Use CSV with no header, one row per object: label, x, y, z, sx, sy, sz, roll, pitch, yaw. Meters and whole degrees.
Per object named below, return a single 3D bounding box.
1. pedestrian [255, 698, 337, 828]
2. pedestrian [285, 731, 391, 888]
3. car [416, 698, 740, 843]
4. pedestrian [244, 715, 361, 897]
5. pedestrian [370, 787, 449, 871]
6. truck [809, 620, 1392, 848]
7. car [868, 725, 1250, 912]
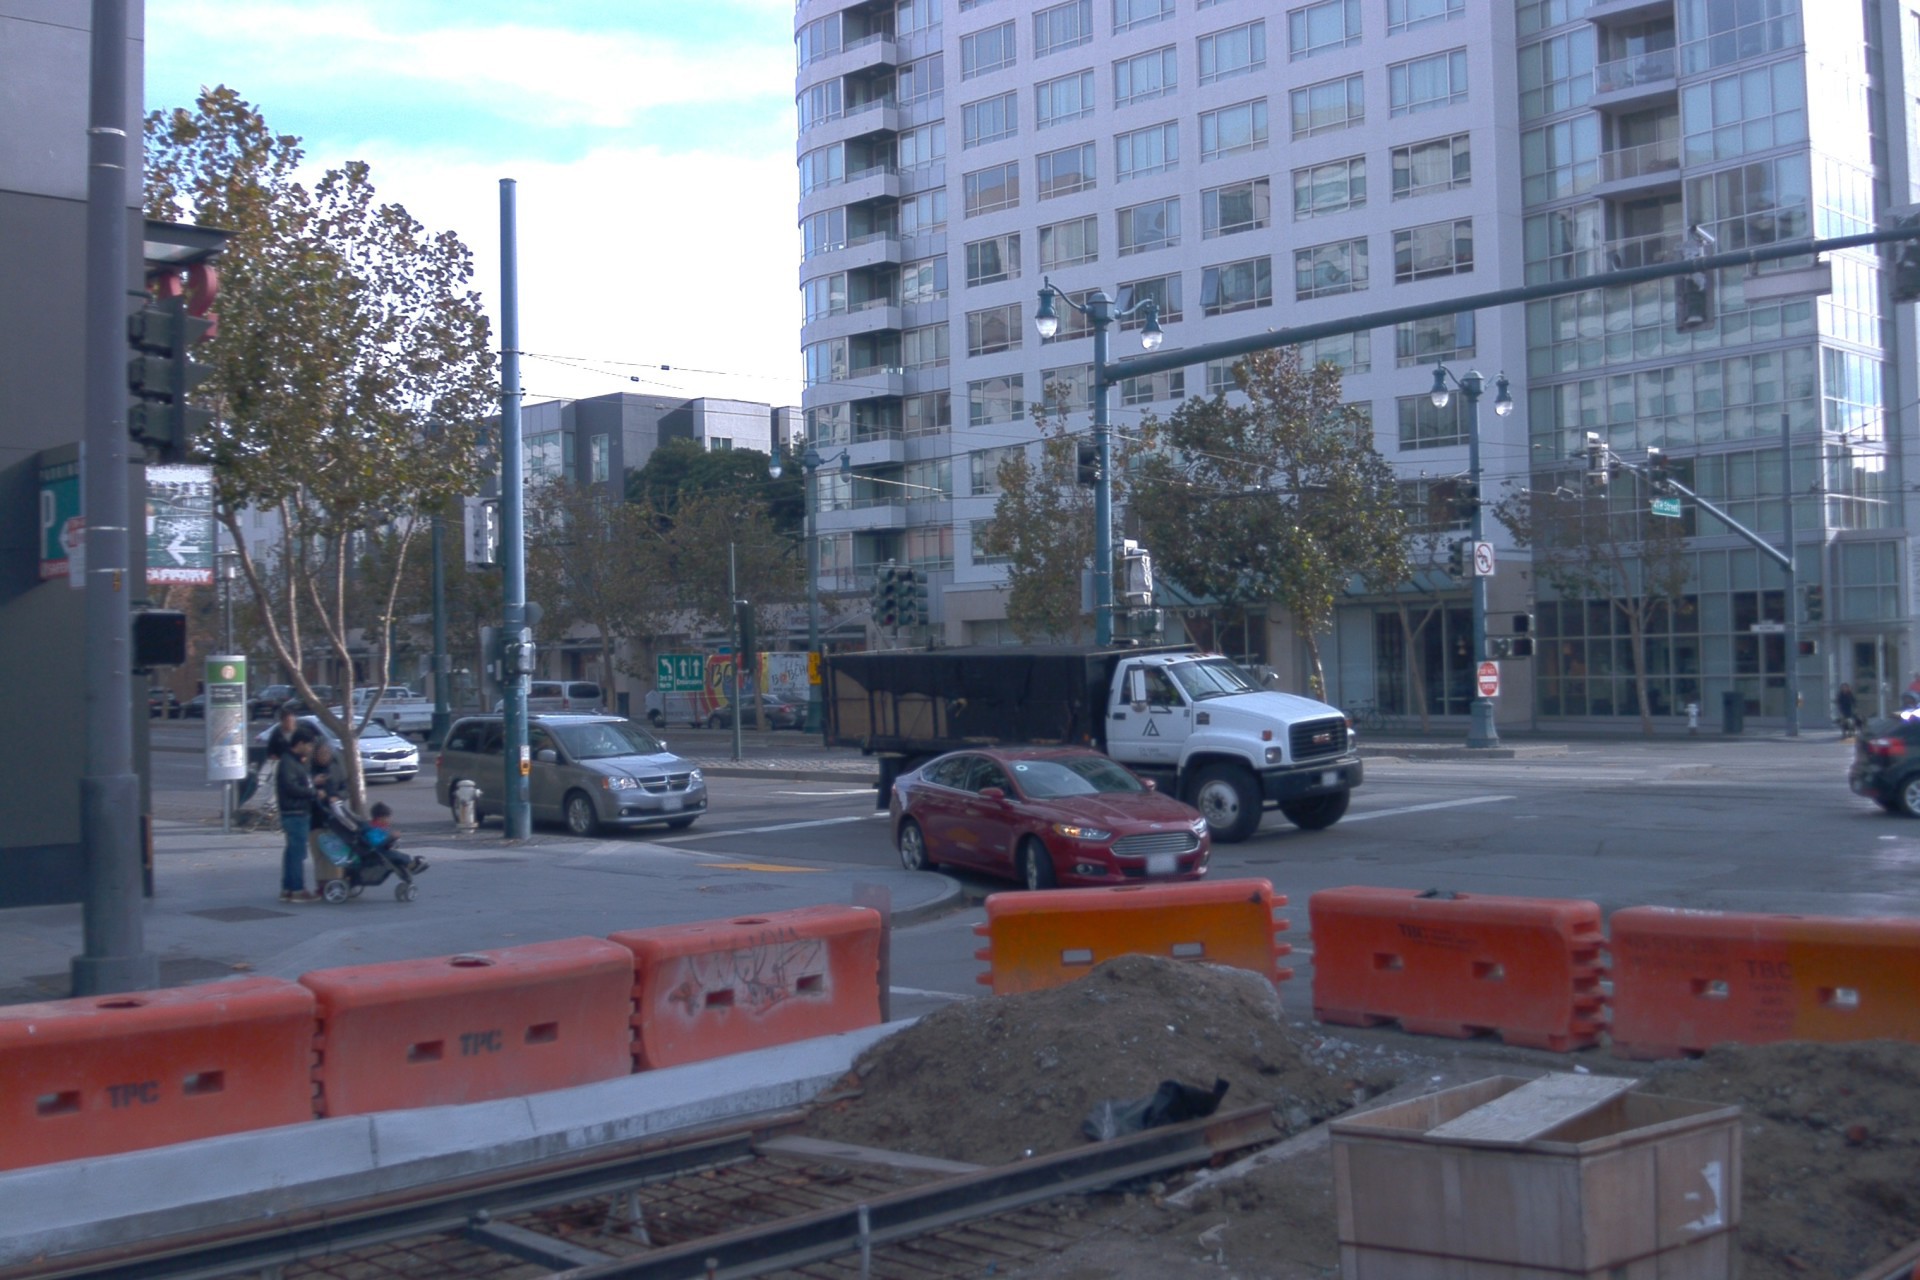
pedestrian,-9.619,1.767,30.130,0.984,1.830,0.940,0,-1,-9
pedestrian,-6.063,1.635,20.264,0.723,1.460,0.660,0,-1,29
car,-5.887,1.886,31.549,2.282,1.897,5.242,1,-1,-44
pedestrian,-6.291,1.569,19.884,0.748,1.660,0.767,0,-1,38
pedestrian,-5.306,1.816,20.018,0.723,0.752,0.485,0,-1,-15
truck,1.755,1.162,29.336,8.088,2.794,3.056,0,-1,43
car,0.916,1.823,22.578,2.115,1.605,4.847,1,-1,-25
